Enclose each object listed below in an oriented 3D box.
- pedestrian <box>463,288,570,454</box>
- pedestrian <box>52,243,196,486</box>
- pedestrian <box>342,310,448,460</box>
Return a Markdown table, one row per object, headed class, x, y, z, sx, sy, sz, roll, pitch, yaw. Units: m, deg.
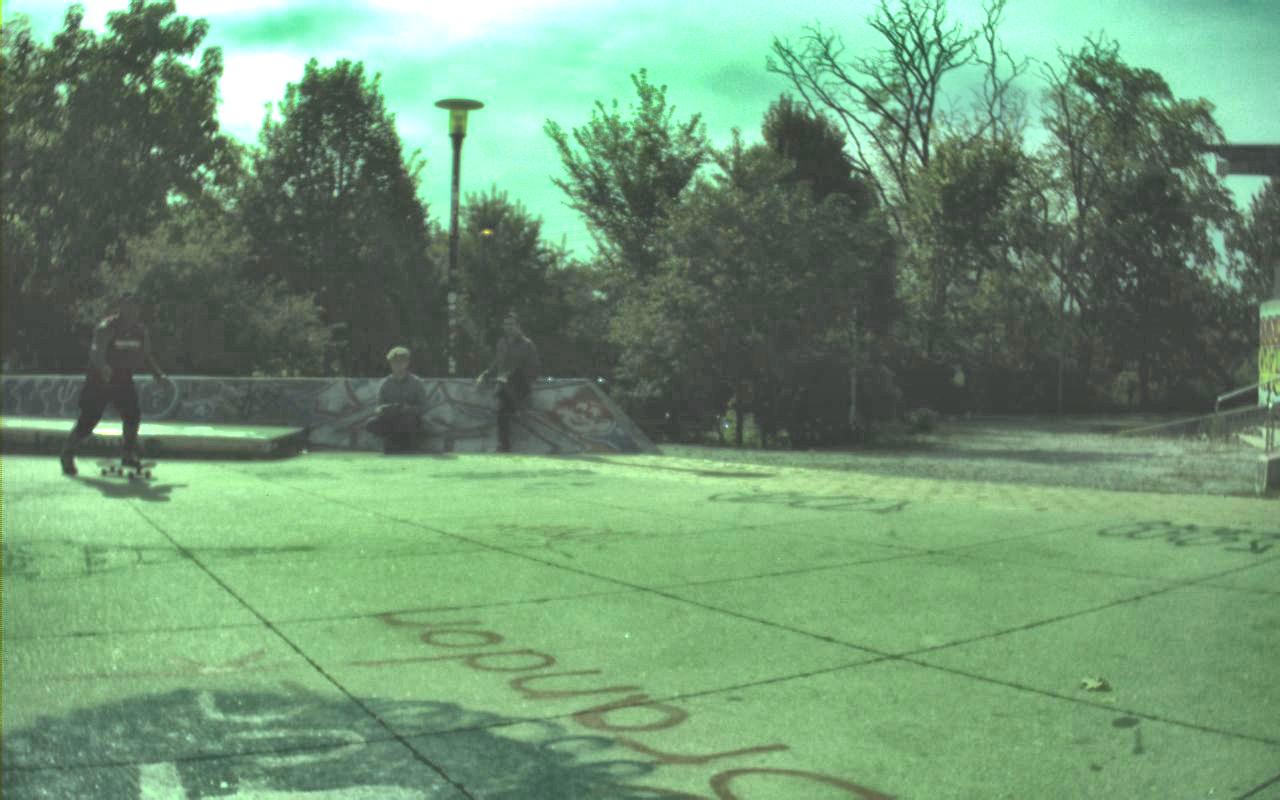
| class | x | y | z | sx | sy | sz | roll | pitch | yaw |
| --- | --- | --- | --- | --- | --- | --- | --- | --- | --- |
| pedestrian | -1.300 | -0.306 | 13.258 | 0.777 | 1.673 | 0.809 | 1 | 0 | 39 |
| pedestrian | -3.983 | -0.255 | 8.935 | 0.882 | 1.753 | 0.822 | 1 | 0 | 32 |
| pedestrian | -2.517 | -0.158 | 12.789 | 0.852 | 1.484 | 0.809 | 1 | 0 | 12 |
